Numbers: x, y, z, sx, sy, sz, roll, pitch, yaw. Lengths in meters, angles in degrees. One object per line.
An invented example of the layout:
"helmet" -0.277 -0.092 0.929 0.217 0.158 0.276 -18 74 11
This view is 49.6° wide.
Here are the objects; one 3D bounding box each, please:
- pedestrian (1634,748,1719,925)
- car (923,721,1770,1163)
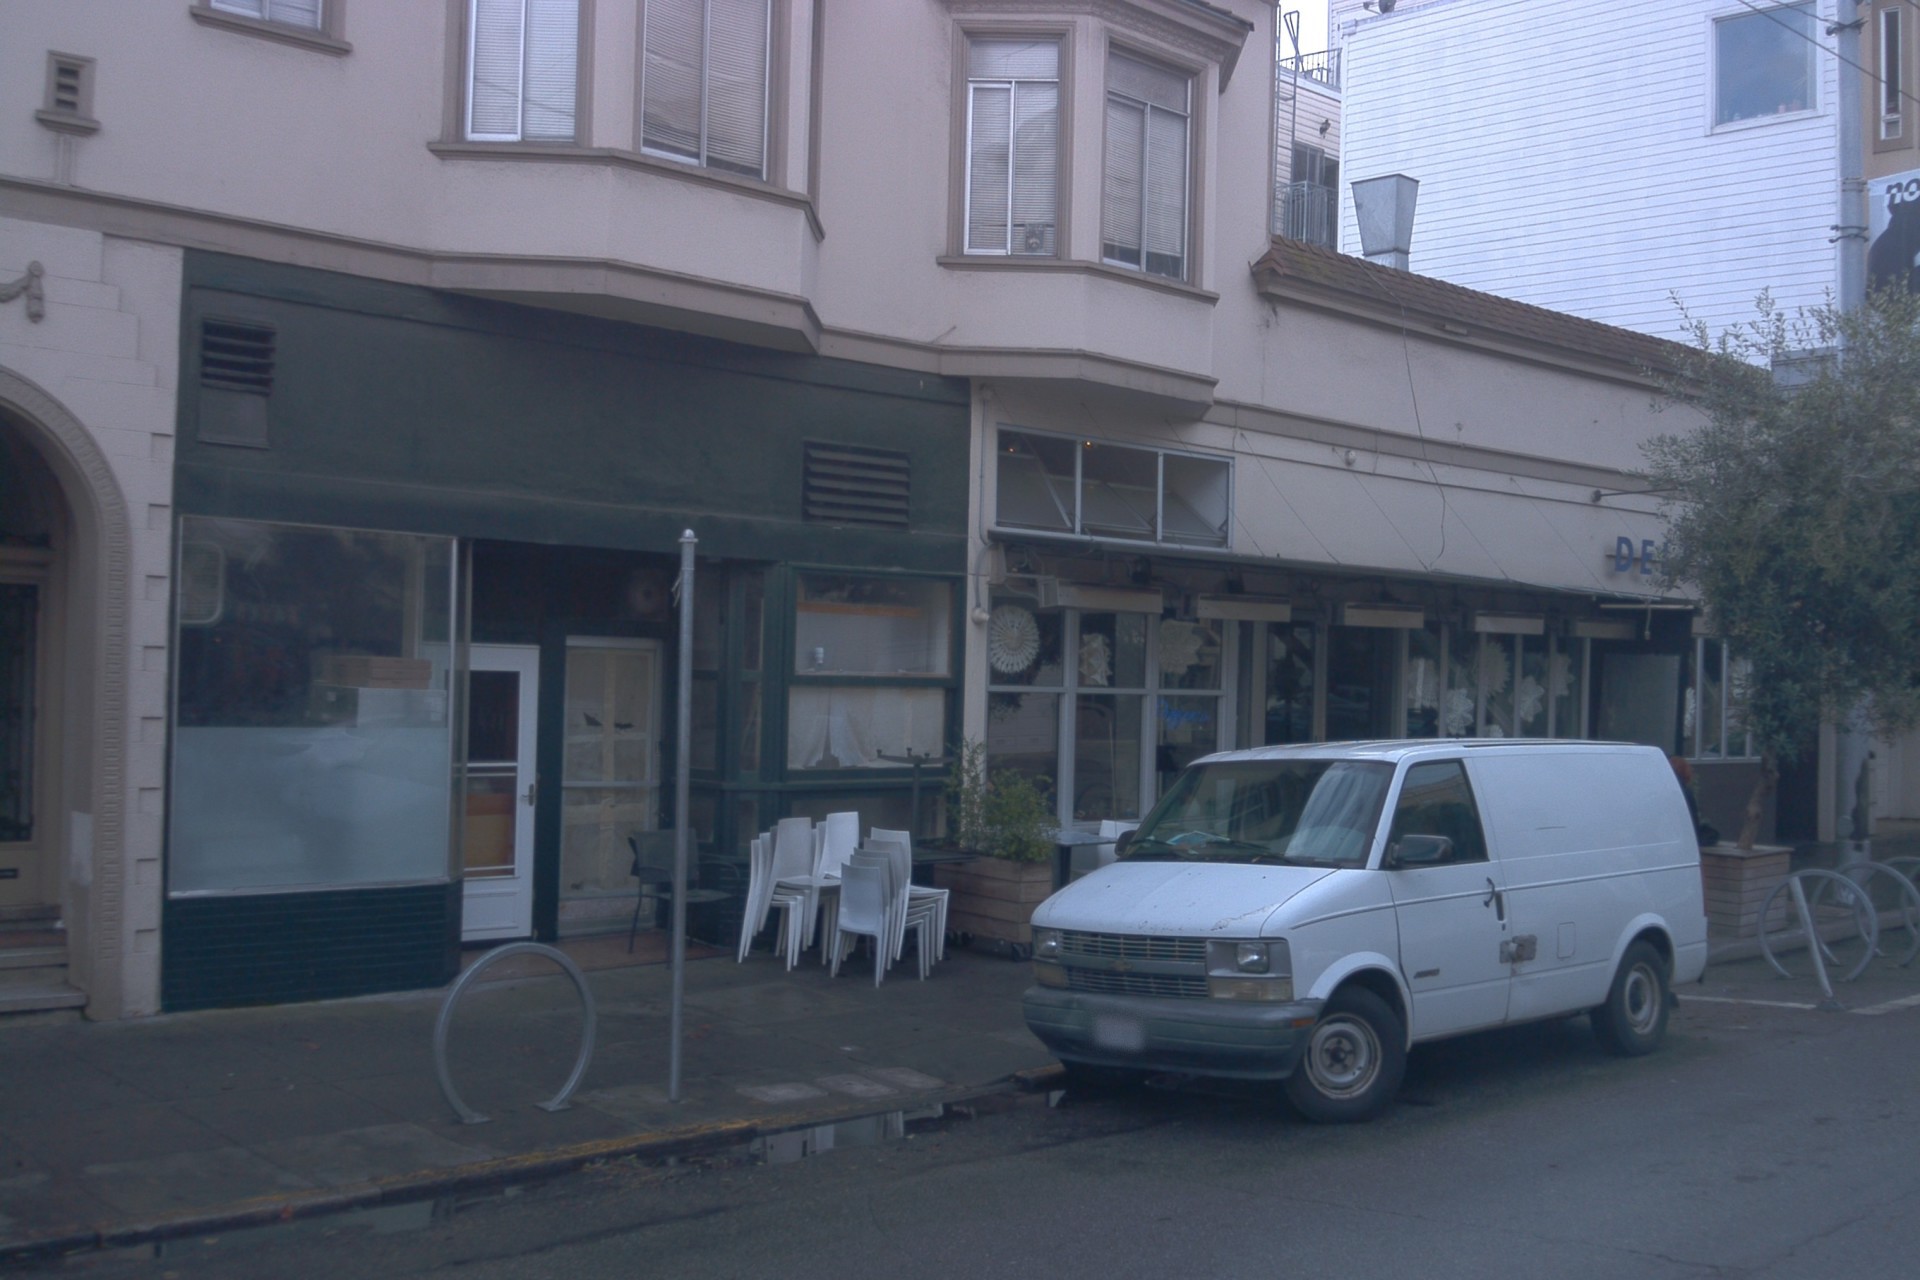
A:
"pedestrian" 6.160 1.673 17.839 0.616 1.450 0.623 1 -1 24
"car" 2.362 1.436 11.725 4.826 1.860 2.315 2 -1 -44
